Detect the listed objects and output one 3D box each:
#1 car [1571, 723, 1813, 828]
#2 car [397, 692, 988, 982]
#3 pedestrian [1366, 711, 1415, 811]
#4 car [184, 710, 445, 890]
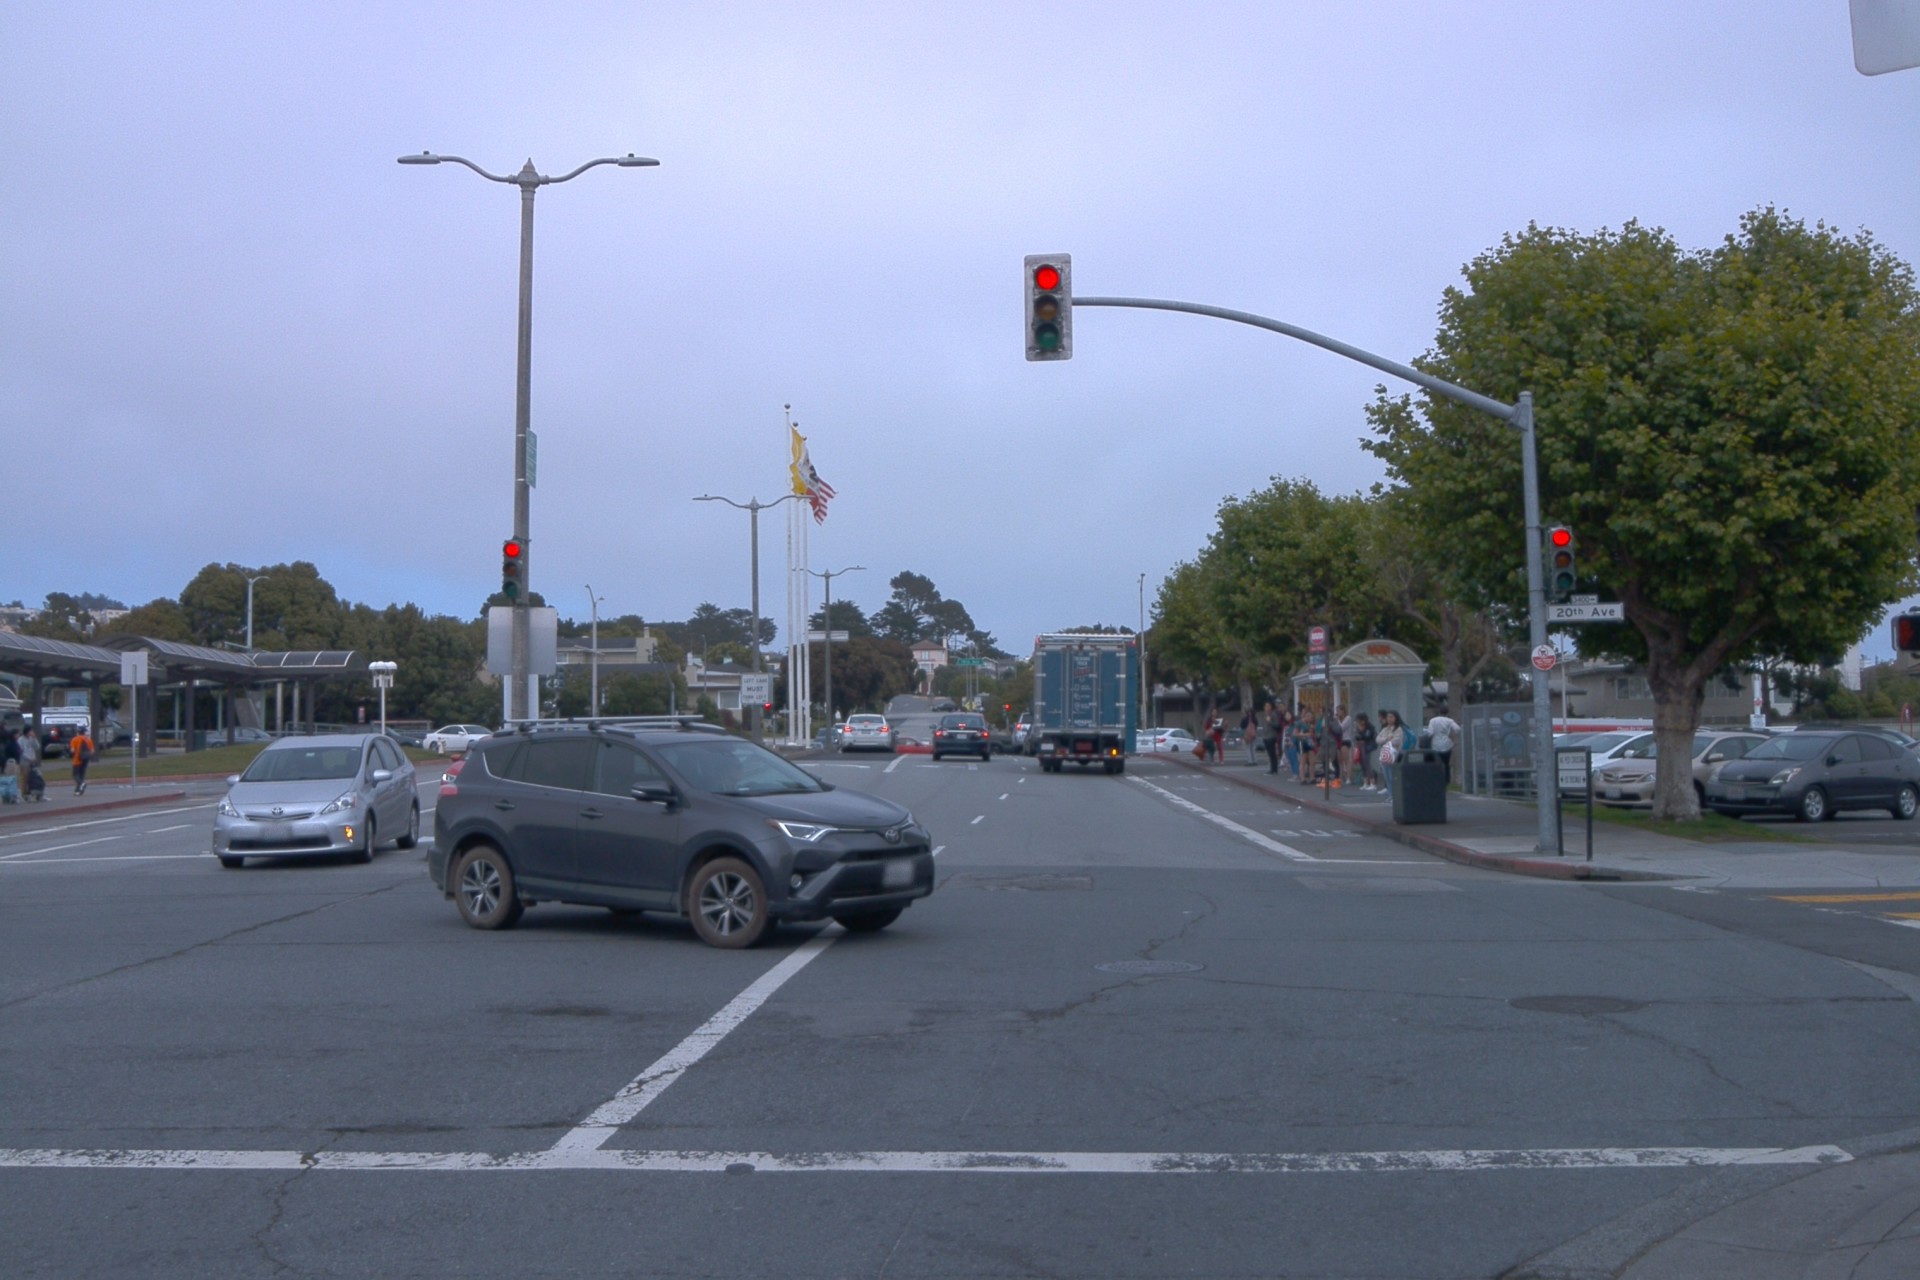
[{"bbox_3d":[12.845,2.326,36.019,3.959,1.540,1.985,-1,1,-33],"label":"car"},{"bbox_3d":[-2.247,1.444,16.693,4.606,1.889,2.095,0,1,37],"label":"car"},{"bbox_3d":[7.531,2.107,35.960,0.605,1.700,0.726,0,1,-10],"label":"pedestrian"},{"bbox_3d":[-7.996,1.914,25.952,2.108,1.825,4.685,0,1,-4],"label":"car"}]
